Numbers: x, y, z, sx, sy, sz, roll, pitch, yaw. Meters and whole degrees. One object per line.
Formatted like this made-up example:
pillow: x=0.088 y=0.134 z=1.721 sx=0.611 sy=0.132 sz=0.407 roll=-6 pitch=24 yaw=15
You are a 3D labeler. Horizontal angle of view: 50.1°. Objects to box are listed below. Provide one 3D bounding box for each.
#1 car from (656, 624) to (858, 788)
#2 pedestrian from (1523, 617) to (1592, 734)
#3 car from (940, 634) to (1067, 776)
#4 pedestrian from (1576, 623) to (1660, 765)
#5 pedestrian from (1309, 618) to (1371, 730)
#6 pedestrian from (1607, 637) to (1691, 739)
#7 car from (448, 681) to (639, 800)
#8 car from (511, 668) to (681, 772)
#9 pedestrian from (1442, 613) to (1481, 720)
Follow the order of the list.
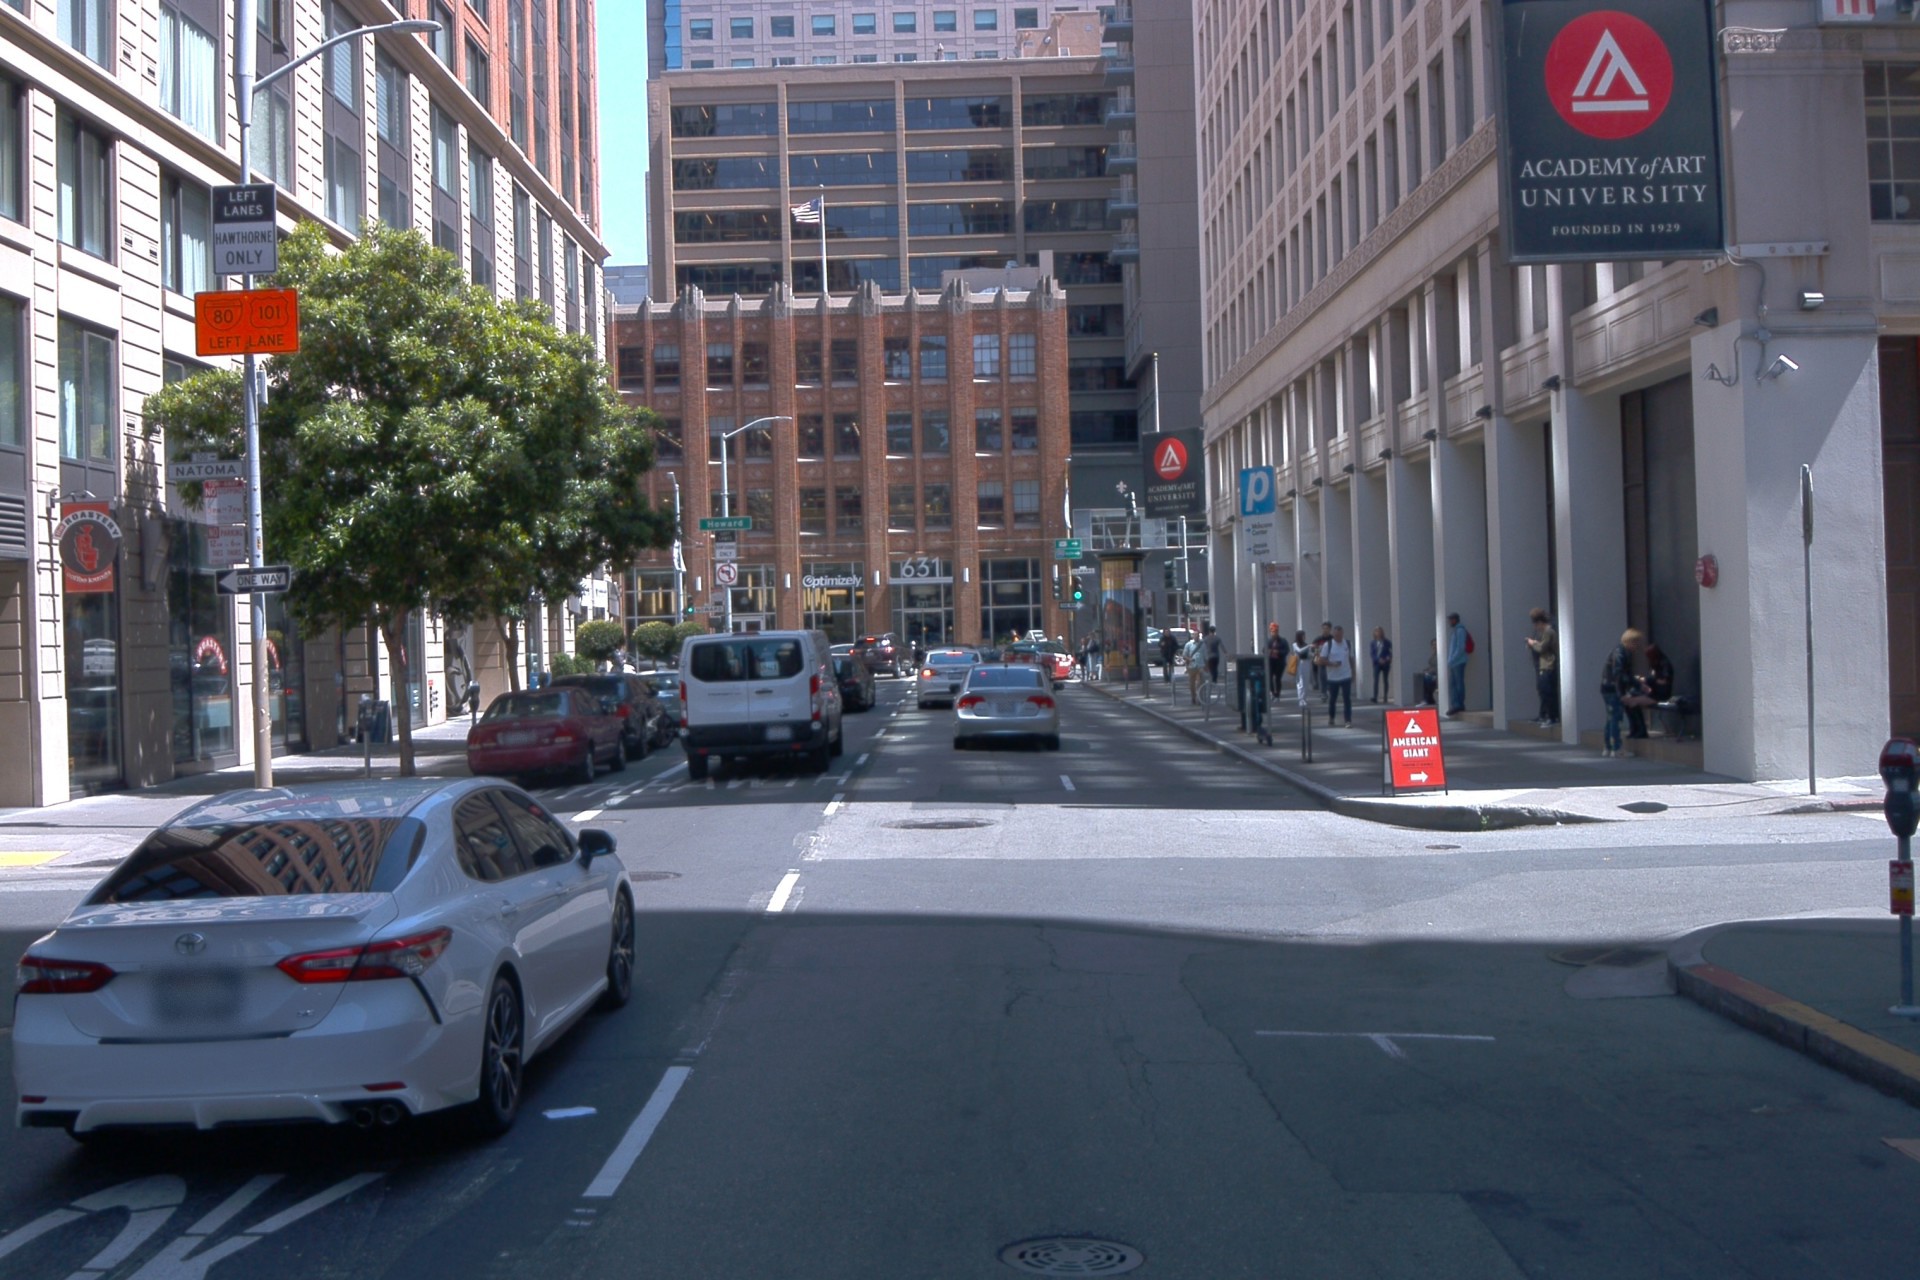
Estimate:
car: x=-2.912 y=0.875 z=30.881 sx=2.374 sy=2.200 sz=5.787 roll=0 pitch=1 yaw=1
pedestrian: x=9.028 y=0.523 z=31.097 sx=0.831 sy=1.744 sz=0.697 roll=0 pitch=1 yaw=-1
car: x=0.765 y=1.025 z=34.778 sx=2.012 sy=2.200 sz=4.315 roll=0 pitch=1 yaw=2
pedestrian: x=8.657 y=0.696 z=27.050 sx=0.857 sy=1.838 sz=0.671 roll=0 pitch=1 yaw=-5
pedestrian: x=6.682 y=0.579 z=36.194 sx=0.872 sy=1.936 sz=1.191 roll=0 pitch=1 yaw=0
pedestrian: x=9.103 y=0.627 z=27.181 sx=0.837 sy=1.328 sz=0.743 roll=0 pitch=1 yaw=-1
car: x=-6.110 y=1.442 z=30.681 sx=1.891 sy=1.500 sz=4.429 roll=0 pitch=1 yaw=1
car: x=-6.352 y=1.345 z=36.451 sx=2.117 sy=1.570 sz=5.217 roll=0 pitch=1 yaw=0
pedestrian: x=8.993 y=0.473 z=36.871 sx=0.553 sy=1.903 sz=0.538 roll=0 pitch=1 yaw=-1
